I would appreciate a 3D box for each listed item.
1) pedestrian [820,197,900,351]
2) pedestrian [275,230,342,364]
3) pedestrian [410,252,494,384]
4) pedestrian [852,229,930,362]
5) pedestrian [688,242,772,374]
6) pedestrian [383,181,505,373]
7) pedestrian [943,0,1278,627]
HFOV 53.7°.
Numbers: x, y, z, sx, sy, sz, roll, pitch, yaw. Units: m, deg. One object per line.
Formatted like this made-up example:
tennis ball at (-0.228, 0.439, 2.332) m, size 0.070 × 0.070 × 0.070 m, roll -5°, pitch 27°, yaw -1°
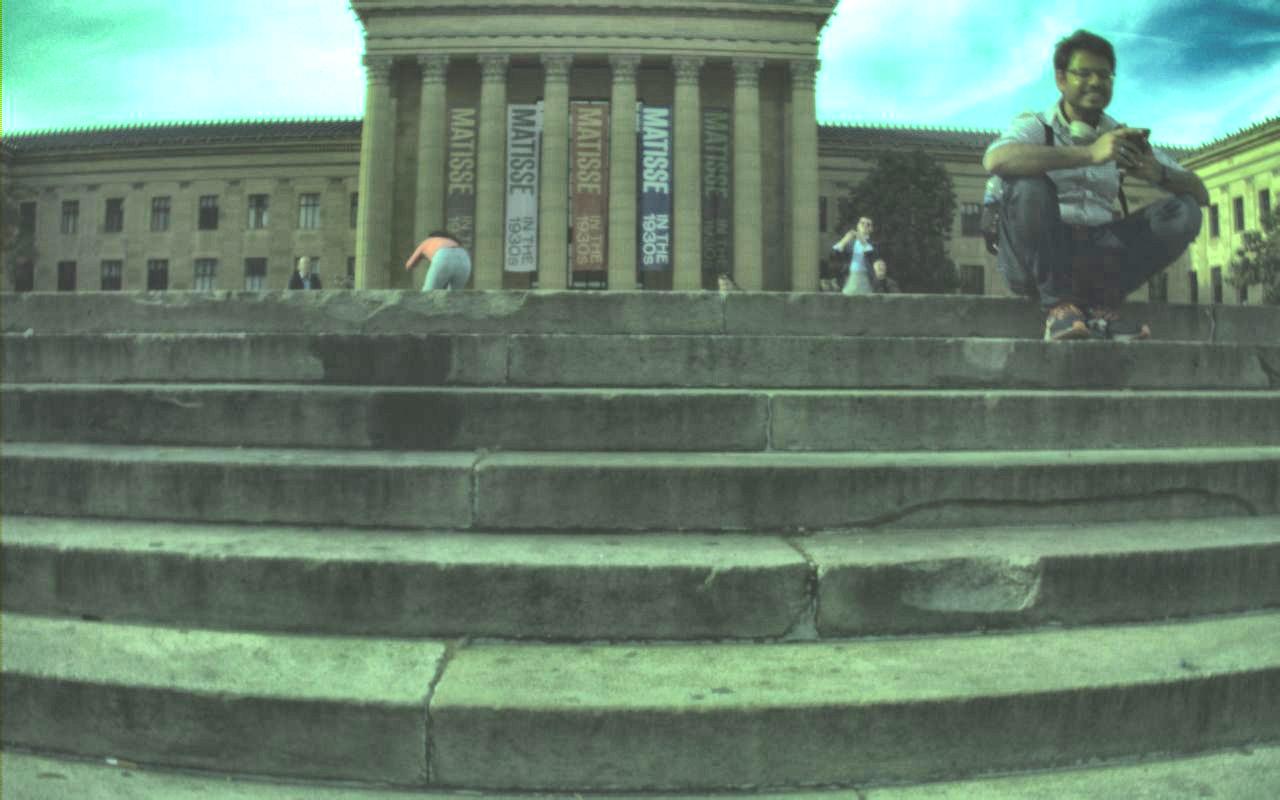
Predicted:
pedestrian at (2.671, -1.497, 15.078) m, size 0.797 × 1.795 × 0.792 m, roll 1°, pitch 0°, yaw 24°
pedestrian at (-4.333, -1.305, 15.901) m, size 0.790 × 1.686 × 0.778 m, roll 0°, pitch 0°, yaw -21°
pedestrian at (-2.430, -1.031, 16.106) m, size 0.844 × 1.637 × 0.859 m, roll 0°, pitch 0°, yaw -28°
pedestrian at (3.307, -1.343, 16.425) m, size 0.798 × 1.699 × 0.795 m, roll 0°, pitch 0°, yaw -10°
pedestrian at (1.159, -1.147, 16.117) m, size 0.822 × 1.632 × 0.844 m, roll 1°, pitch 0°, yaw 26°
pedestrian at (-1.808, -1.103, 11.551) m, size 0.783 × 1.704 × 0.829 m, roll 1°, pitch 0°, yaw 25°
pedestrian at (1.391, -0.315, 3.567) m, size 0.852 × 1.802 × 0.992 m, roll 0°, pitch 0°, yaw 7°
